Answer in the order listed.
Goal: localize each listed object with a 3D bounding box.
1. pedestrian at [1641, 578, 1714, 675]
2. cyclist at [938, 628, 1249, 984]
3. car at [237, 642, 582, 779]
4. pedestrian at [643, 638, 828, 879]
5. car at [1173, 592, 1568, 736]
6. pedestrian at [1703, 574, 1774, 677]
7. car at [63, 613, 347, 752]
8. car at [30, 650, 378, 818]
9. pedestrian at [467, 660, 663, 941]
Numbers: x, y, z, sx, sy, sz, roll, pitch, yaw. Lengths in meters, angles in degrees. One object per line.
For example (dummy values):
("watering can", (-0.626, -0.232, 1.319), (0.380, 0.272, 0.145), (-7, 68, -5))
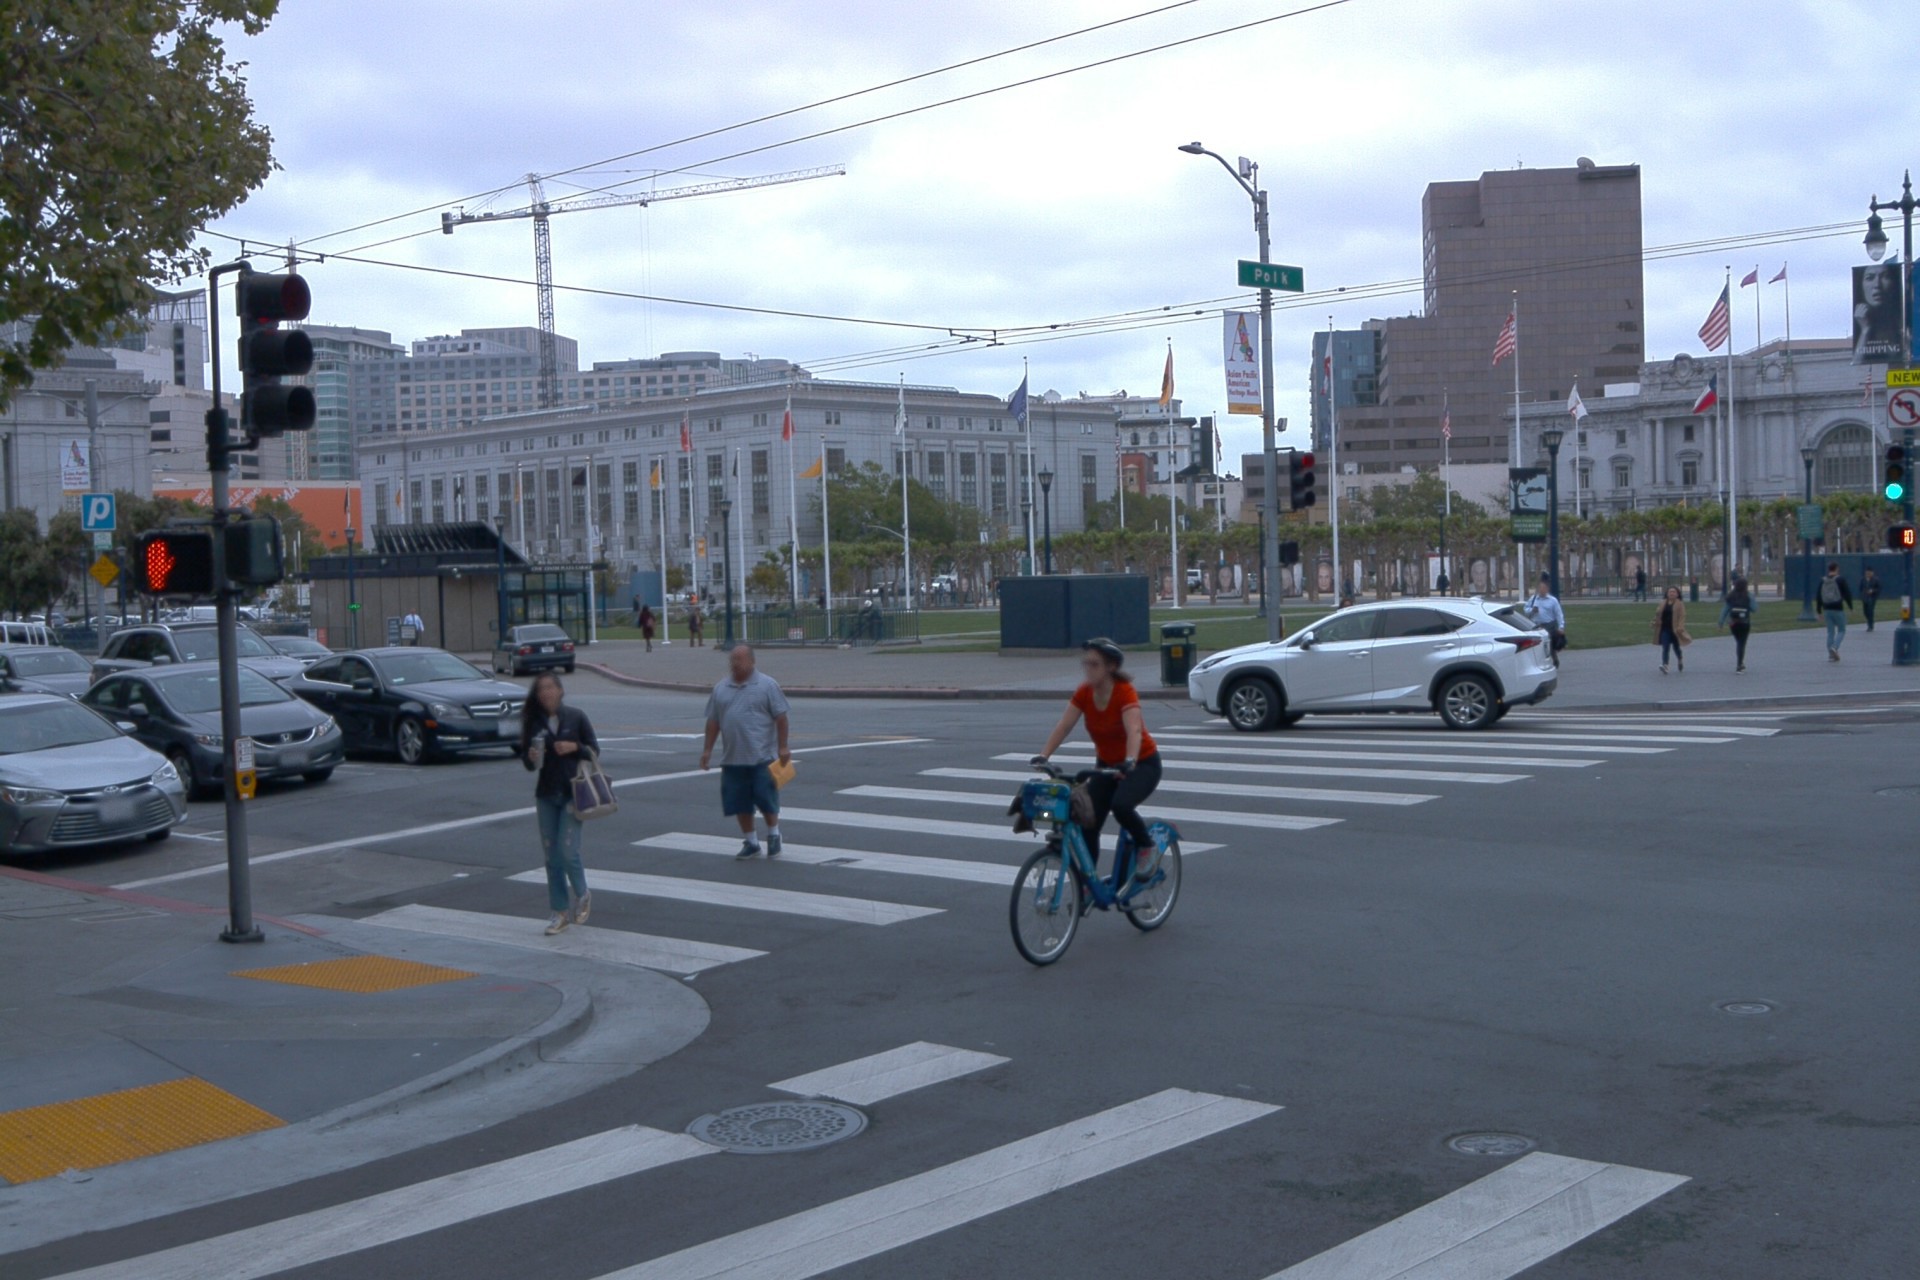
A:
("pedestrian", (12.426, -0.239, 35.749), (0.944, 1.654, 1.016), (1, 1, 35))
("cyclist", (0.806, 0.869, 11.879), (0.825, 1.850, 1.935), (1, 1, 38))
("car", (-6.961, 0.808, 25.861), (4.497, 1.490, 2.027), (1, 1, 42))
("pedestrian", (-1.726, 0.881, 16.031), (0.994, 1.764, 1.162), (0, 1, 21))
("car", (5.209, 0.251, 26.080), (4.580, 1.692, 2.192), (0, 1, 21))
("pedestrian", (13.301, -0.259, 35.268), (0.970, 1.734, 0.789), (-1, 1, -45))
("car", (-11.344, 0.555, 30.869), (4.650, 1.900, 2.138), (1, 1, 44))
("car", (-8.782, 0.988, 23.770), (2.084, 1.630, 4.523), (-1, 1, -44))
("pedestrian", (-2.560, 1.011, 13.471), (0.910, 1.724, 0.993), (0, 1, 14))
